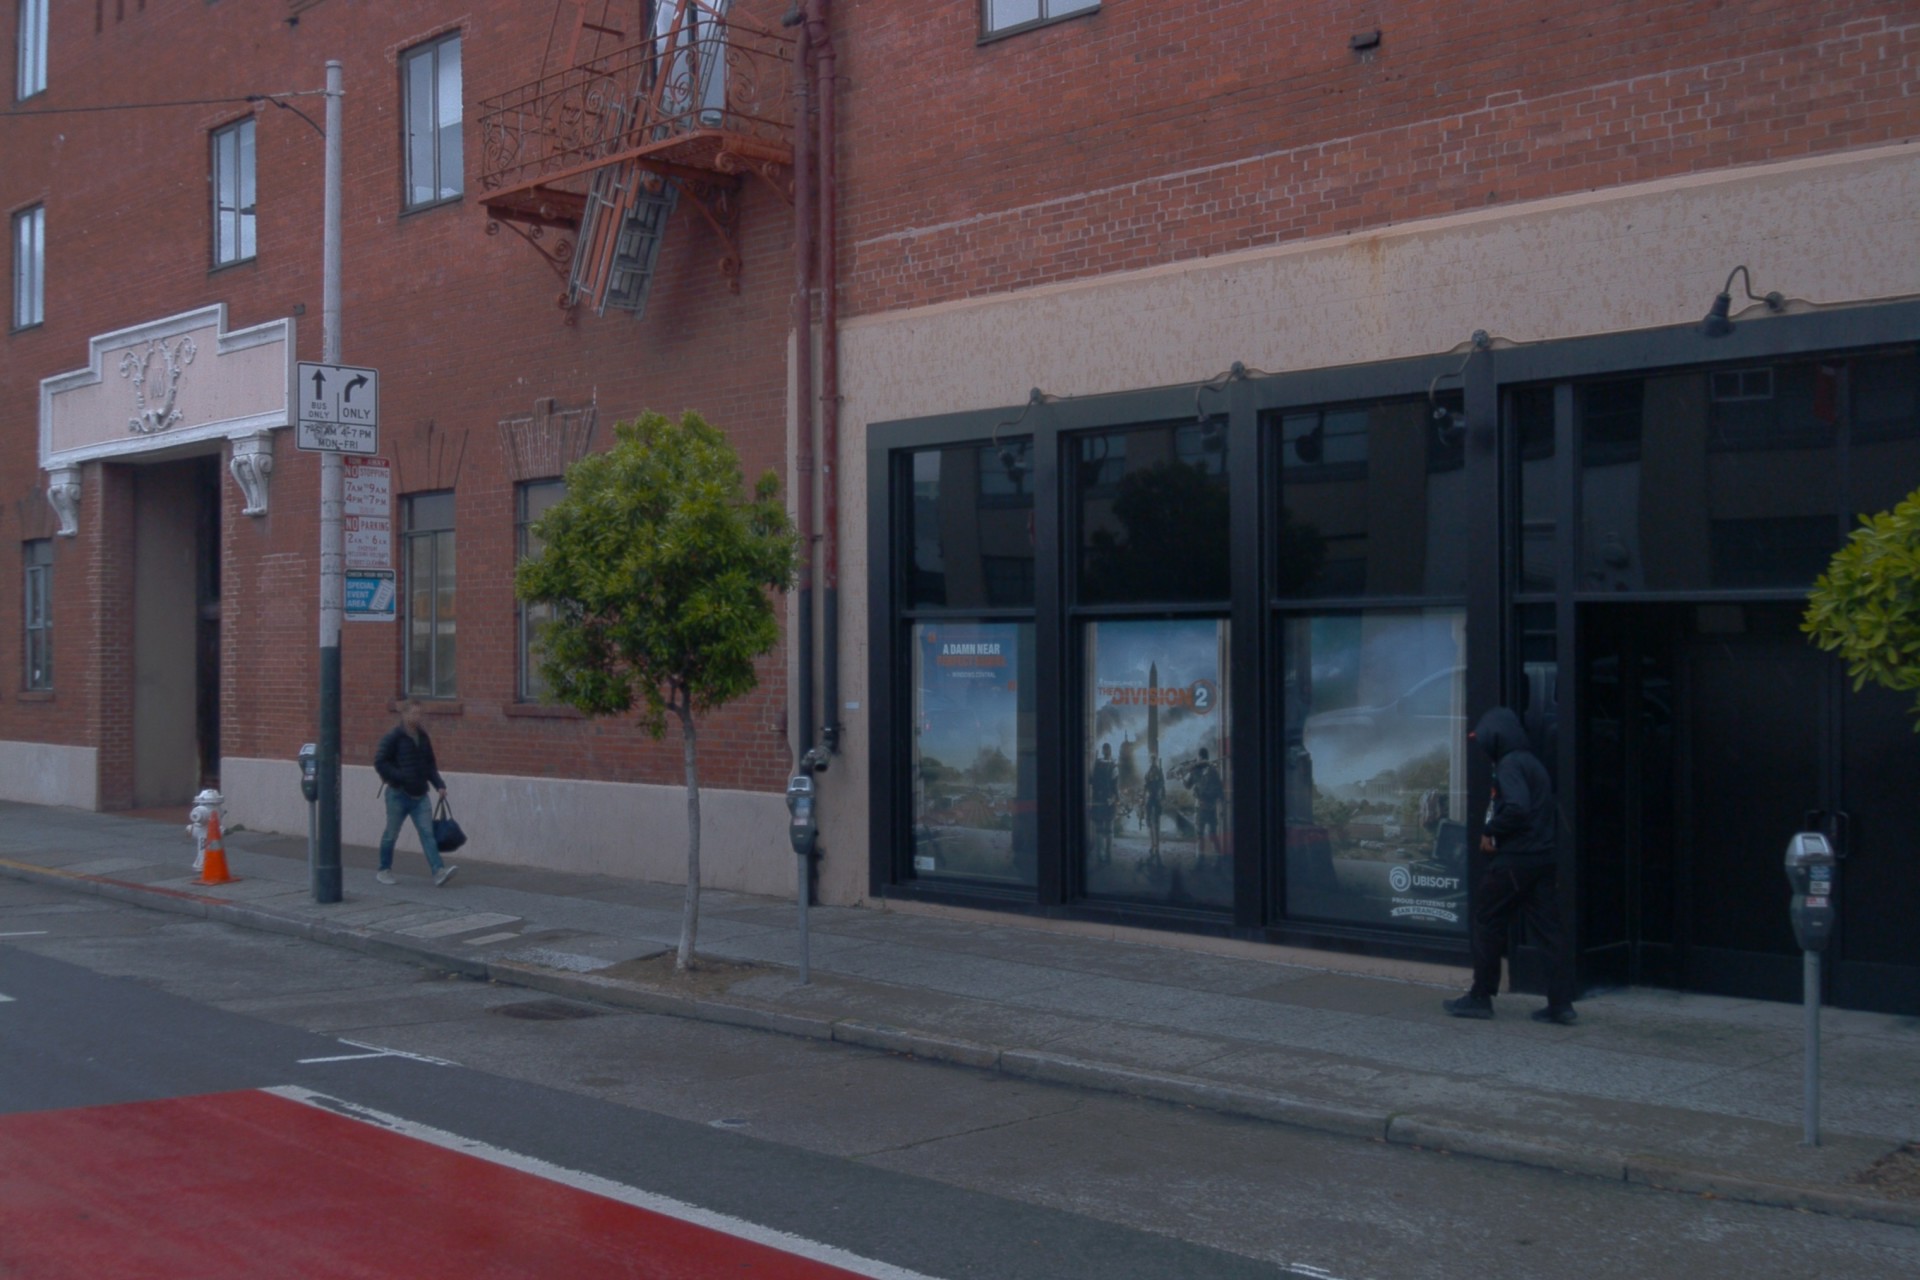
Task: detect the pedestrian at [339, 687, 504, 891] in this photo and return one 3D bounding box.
[{"bbox_3d":[-4.823,1.297,18.520,0.979,1.730,1.128,1,-1,-45],"label":"pedestrian"}]

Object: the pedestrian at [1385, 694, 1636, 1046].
[{"bbox_3d":[3.113,1.246,11.724,1.126,1.848,0.798,0,-1,44],"label":"pedestrian"}]
